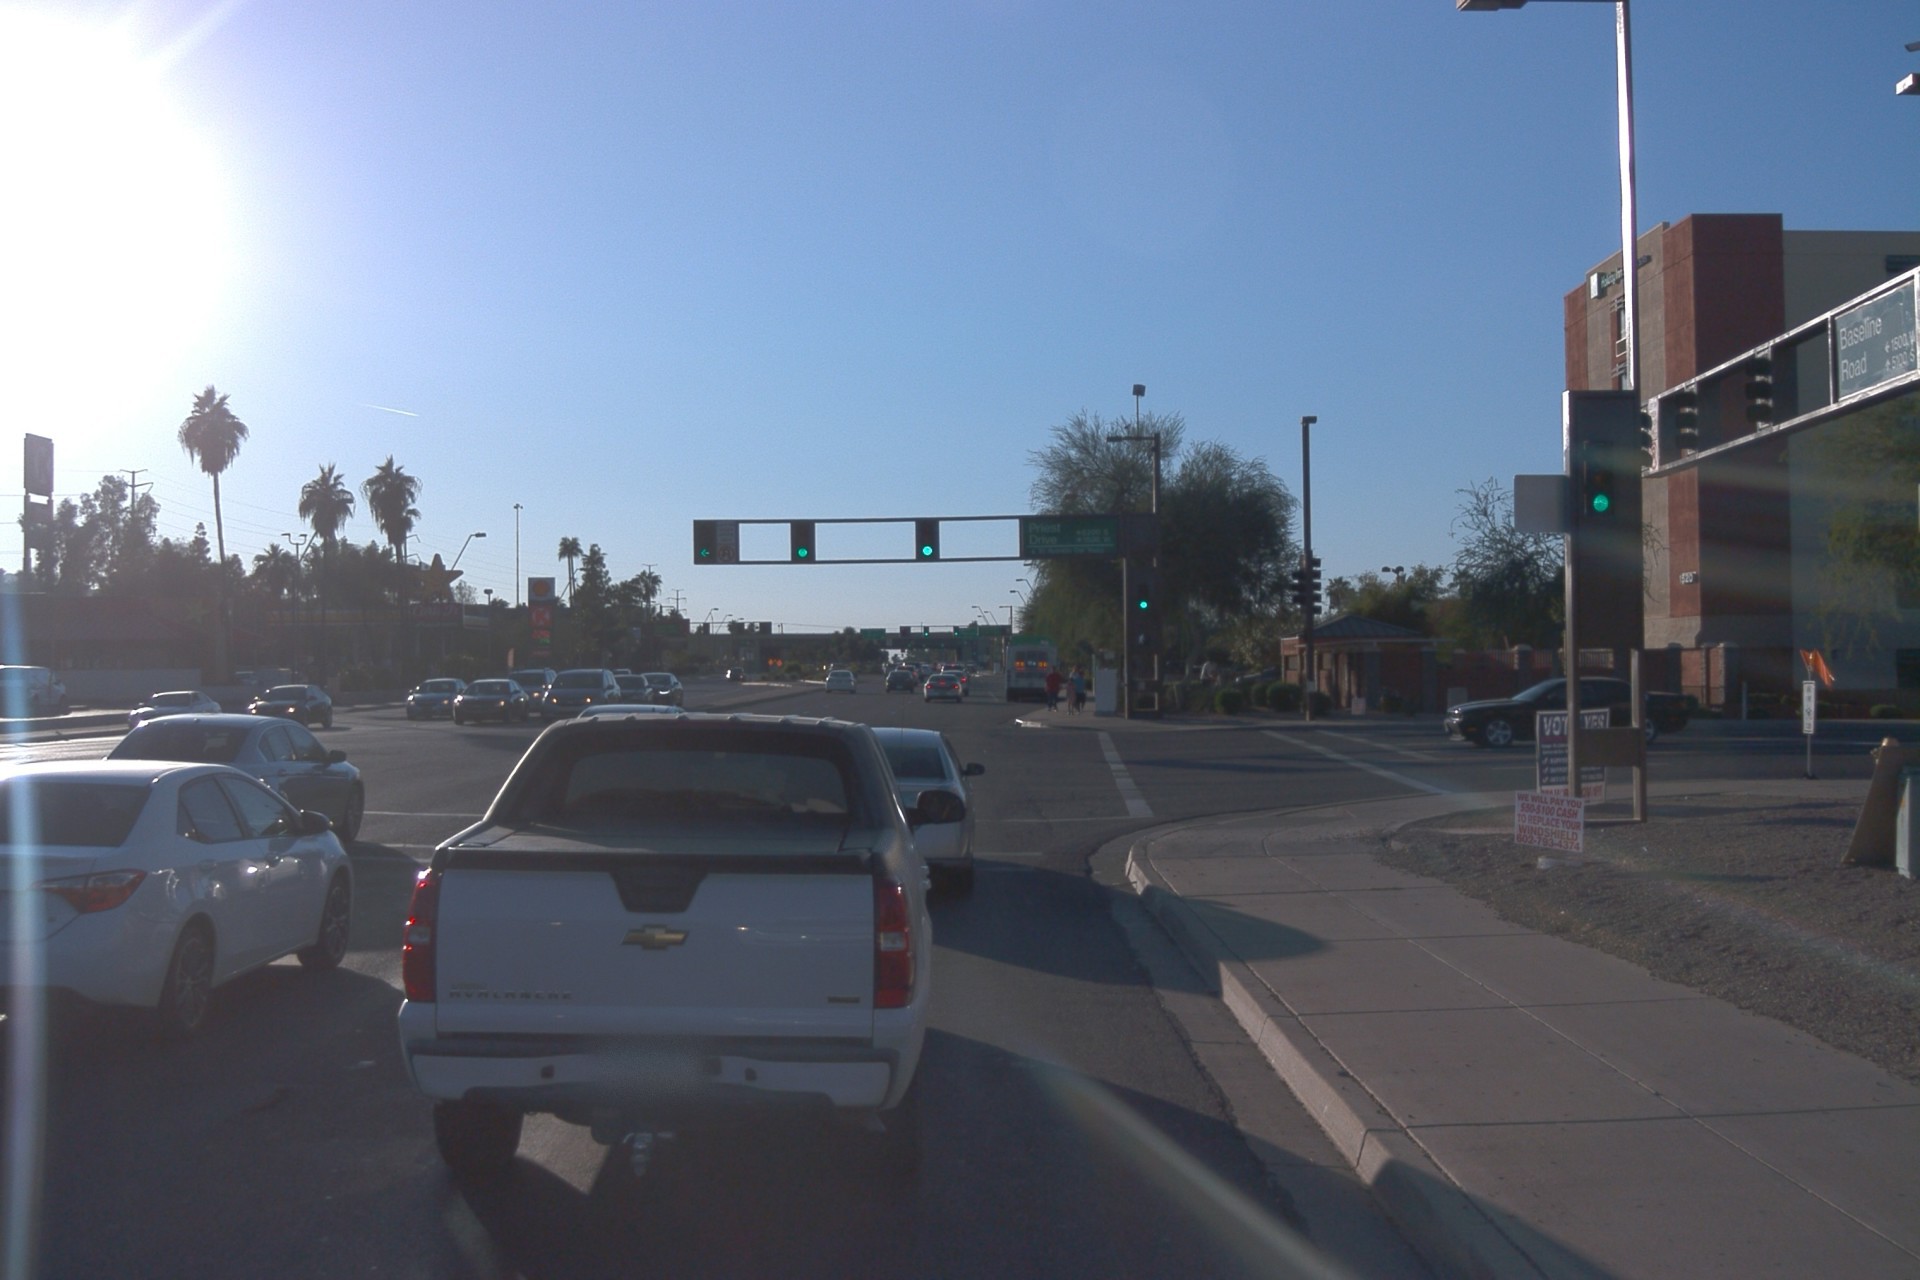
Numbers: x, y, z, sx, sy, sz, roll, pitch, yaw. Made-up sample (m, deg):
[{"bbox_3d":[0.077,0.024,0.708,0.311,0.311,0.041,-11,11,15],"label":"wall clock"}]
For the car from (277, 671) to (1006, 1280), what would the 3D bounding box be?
[{"bbox_3d":[-1.187,1.217,9.853,2.477,2.120,5.357,1,-1,-2],"label":"car"}]

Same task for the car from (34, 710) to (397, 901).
[{"bbox_3d":[-7.538,1.617,21.659,2.076,1.660,4.683,1,-1,0],"label":"car"}]

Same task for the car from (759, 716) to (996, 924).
[{"bbox_3d":[-0.725,1.646,20.377,2.031,1.680,4.704,1,-1,0],"label":"car"}]
